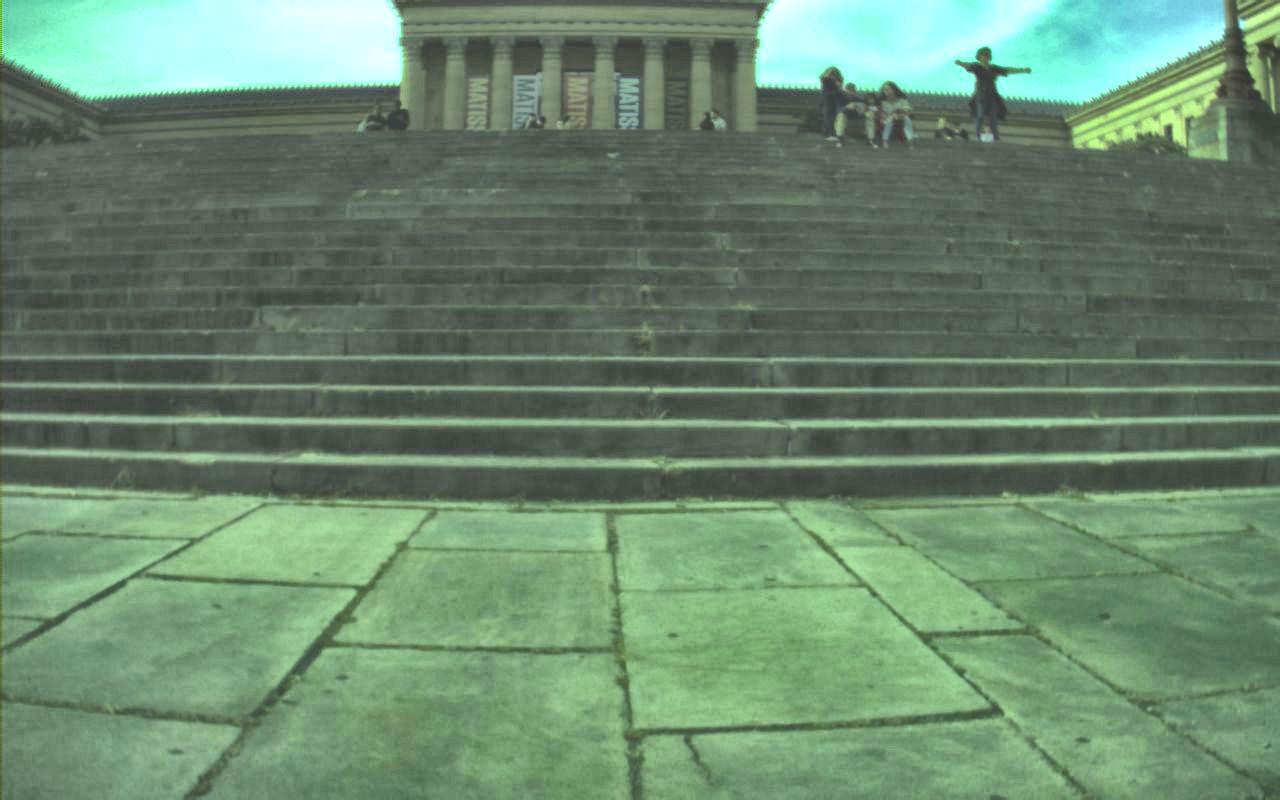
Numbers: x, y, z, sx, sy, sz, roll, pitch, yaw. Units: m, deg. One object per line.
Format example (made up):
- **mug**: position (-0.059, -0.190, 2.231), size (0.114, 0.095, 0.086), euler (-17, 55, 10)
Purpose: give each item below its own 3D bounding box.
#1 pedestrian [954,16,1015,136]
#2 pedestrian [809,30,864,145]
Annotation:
- **pedestrian**: position (5.459, -5.114, 19.041), size (0.702, 1.793, 0.680), euler (0, 0, -7)
- **pedestrian**: position (2.893, -4.602, 18.156), size (0.713, 1.577, 0.777), euler (0, 0, 2)
